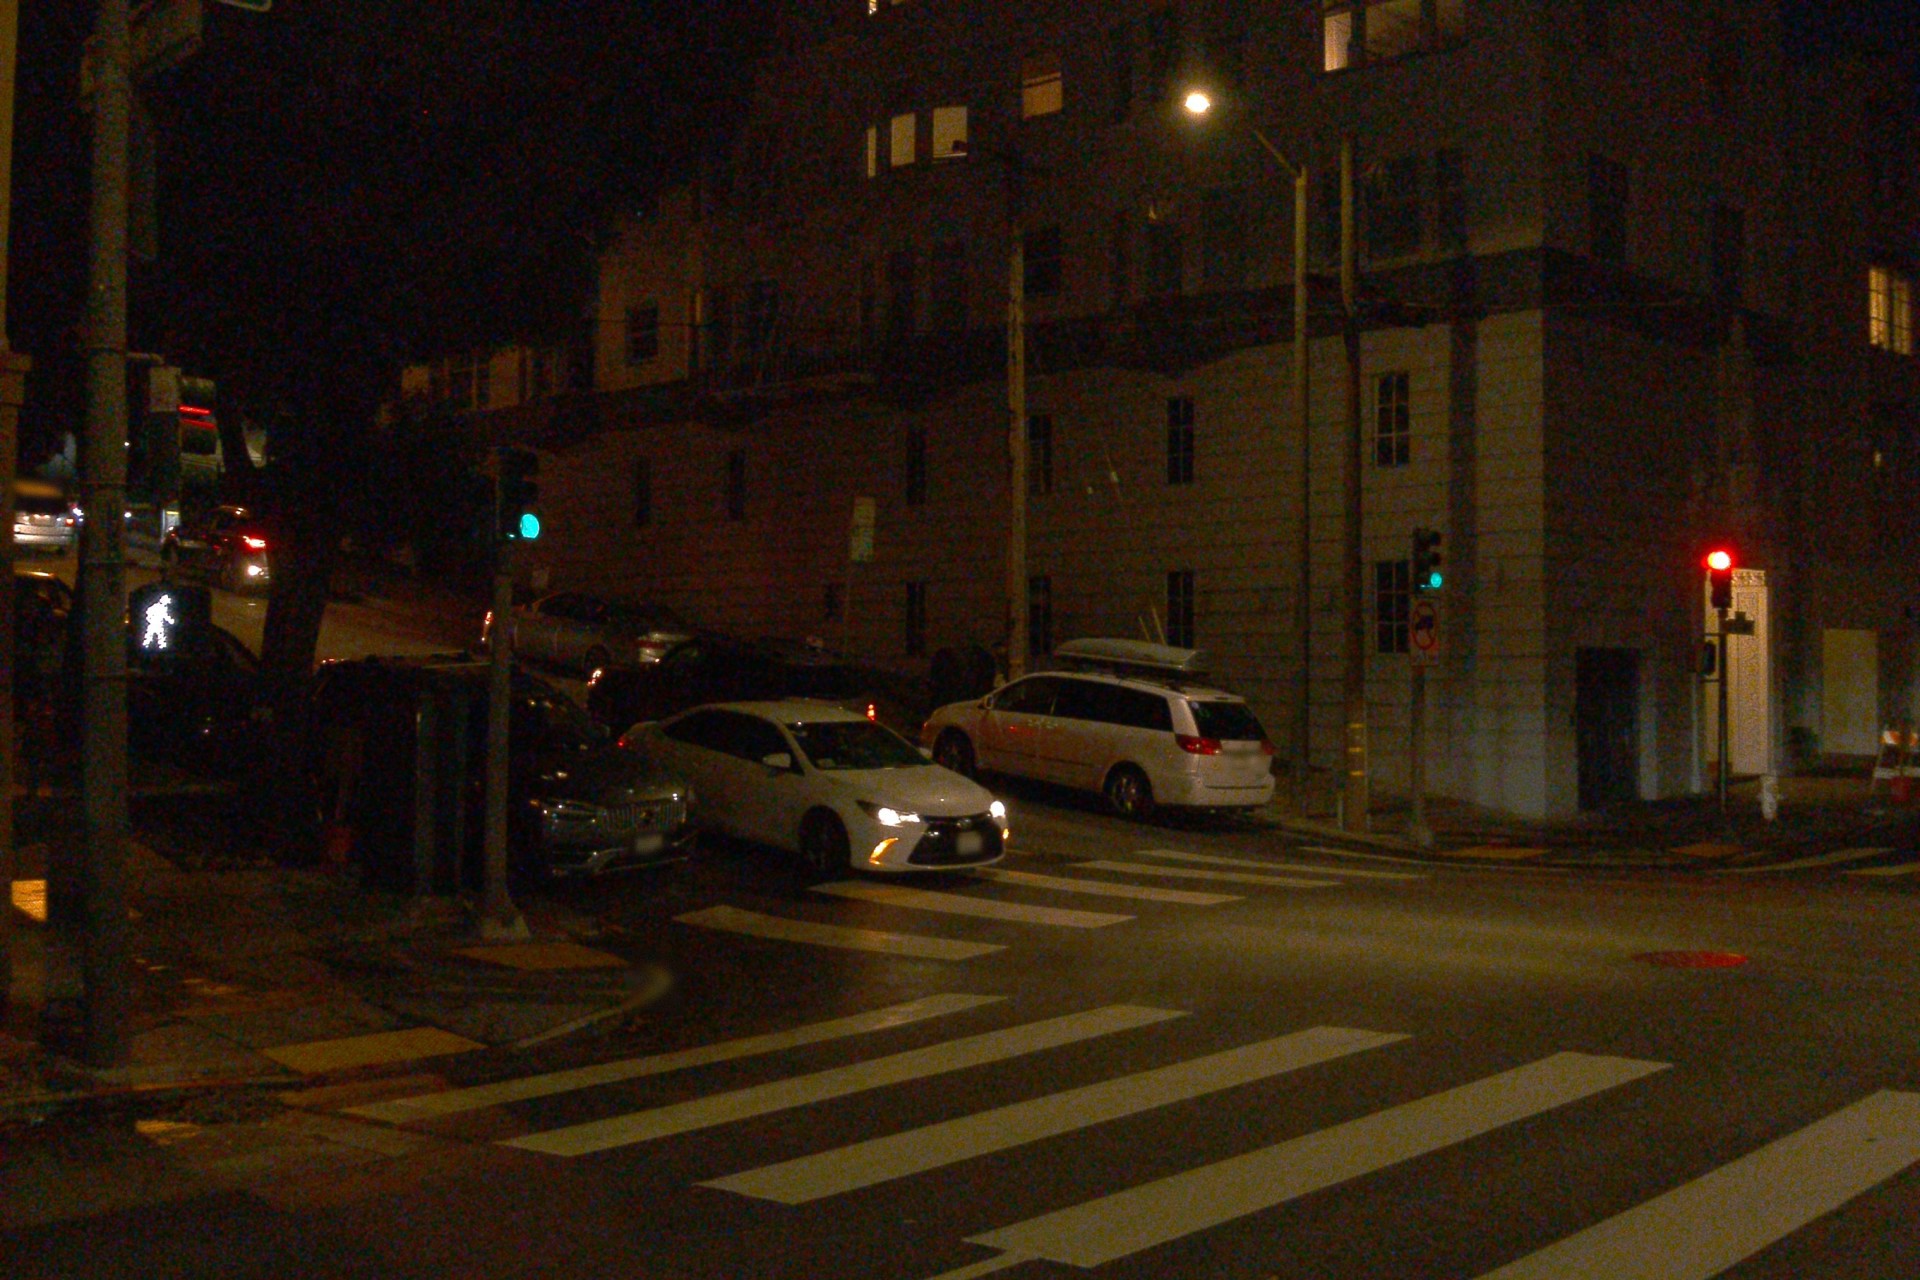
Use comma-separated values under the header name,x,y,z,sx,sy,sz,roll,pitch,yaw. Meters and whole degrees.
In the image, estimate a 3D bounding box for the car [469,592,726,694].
name,x,y,z,sx,sy,sz,roll,pitch,yaw
car,-6.221,0.018,34.848,4.539,1.626,1.925,1,1,42

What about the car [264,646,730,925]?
name,x,y,z,sx,sy,sz,roll,pitch,yaw
car,-4.591,1.239,19.807,2.195,2.290,4.784,0,1,-44

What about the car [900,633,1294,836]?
name,x,y,z,sx,sy,sz,roll,pitch,yaw
car,1.730,1.135,27.136,4.904,2.388,2.213,1,1,44

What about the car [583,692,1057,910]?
name,x,y,z,sx,sy,sz,roll,pitch,yaw
car,-1.535,1.491,20.673,2.181,1.748,4.872,0,1,-43

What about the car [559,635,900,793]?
name,x,y,z,sx,sy,sz,roll,pitch,yaw
car,-3.150,0.907,27.341,4.561,1.883,2.058,1,1,44
